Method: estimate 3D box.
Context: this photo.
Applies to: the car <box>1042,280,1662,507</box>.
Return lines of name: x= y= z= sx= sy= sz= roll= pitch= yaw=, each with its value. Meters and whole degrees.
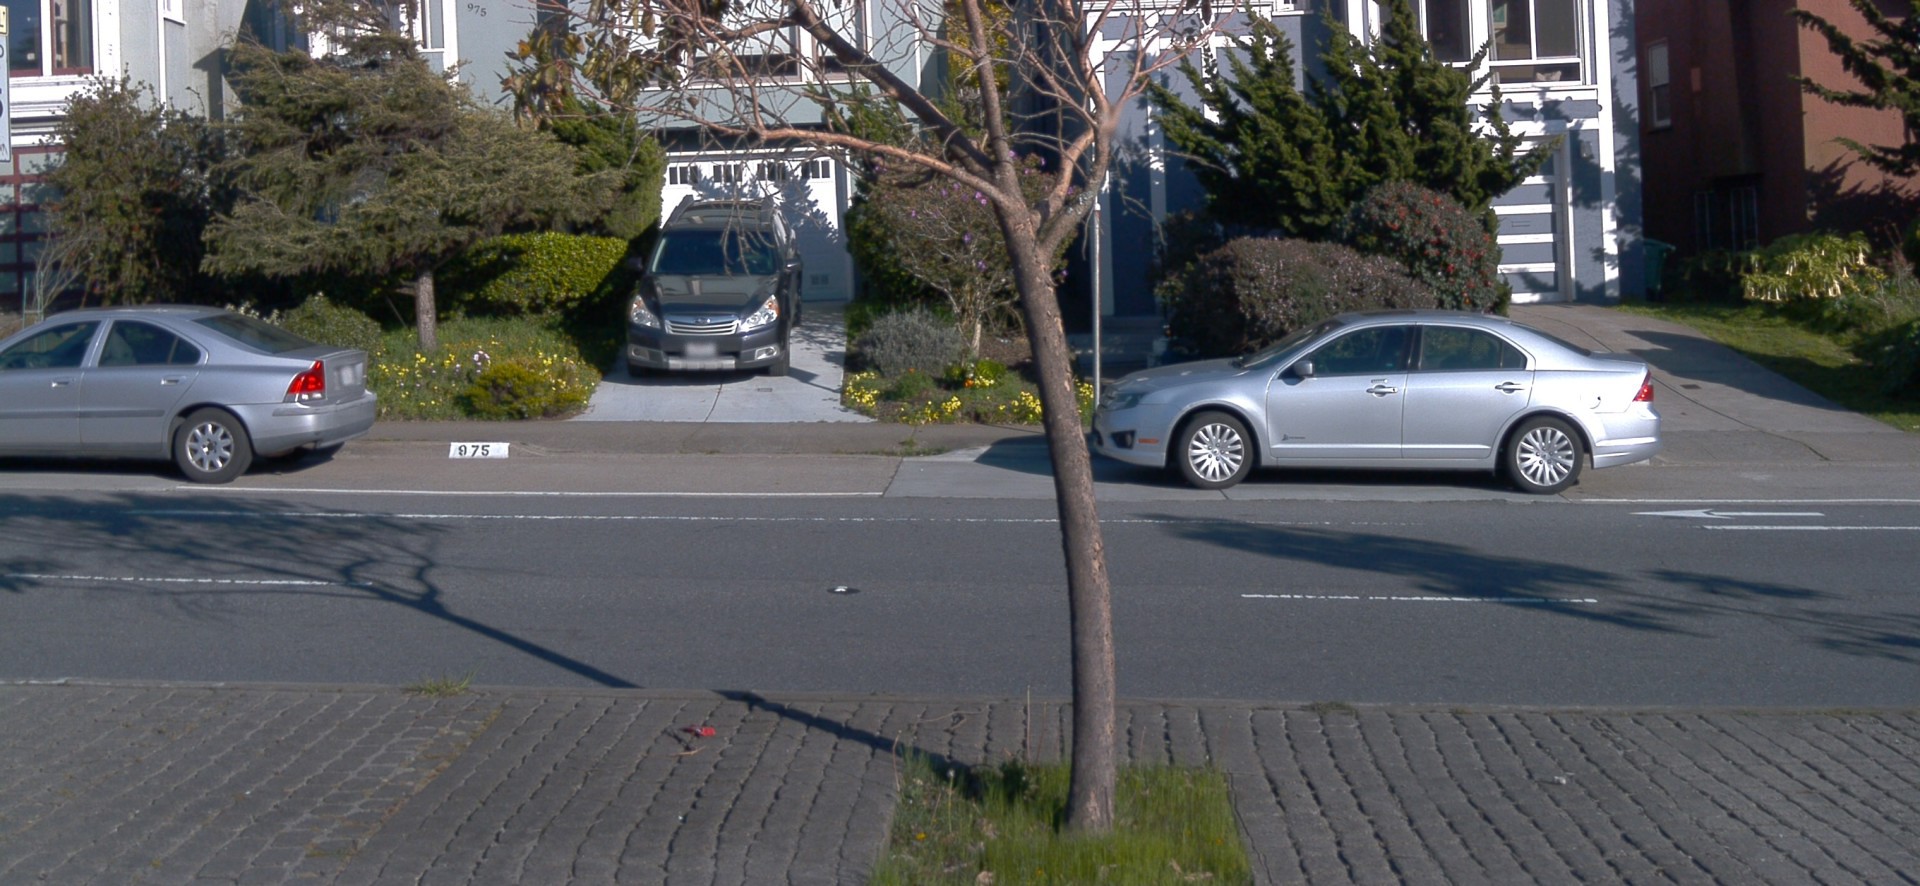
car: x=3.156 y=-0.478 z=17.507 sx=4.848 sy=1.634 sz=2.121 roll=1 pitch=4 yaw=2

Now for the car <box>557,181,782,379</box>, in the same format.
car: x=-3.257 y=-1.977 z=24.181 sx=2.060 sy=2.050 sz=4.707 roll=1 pitch=6 yaw=-2
